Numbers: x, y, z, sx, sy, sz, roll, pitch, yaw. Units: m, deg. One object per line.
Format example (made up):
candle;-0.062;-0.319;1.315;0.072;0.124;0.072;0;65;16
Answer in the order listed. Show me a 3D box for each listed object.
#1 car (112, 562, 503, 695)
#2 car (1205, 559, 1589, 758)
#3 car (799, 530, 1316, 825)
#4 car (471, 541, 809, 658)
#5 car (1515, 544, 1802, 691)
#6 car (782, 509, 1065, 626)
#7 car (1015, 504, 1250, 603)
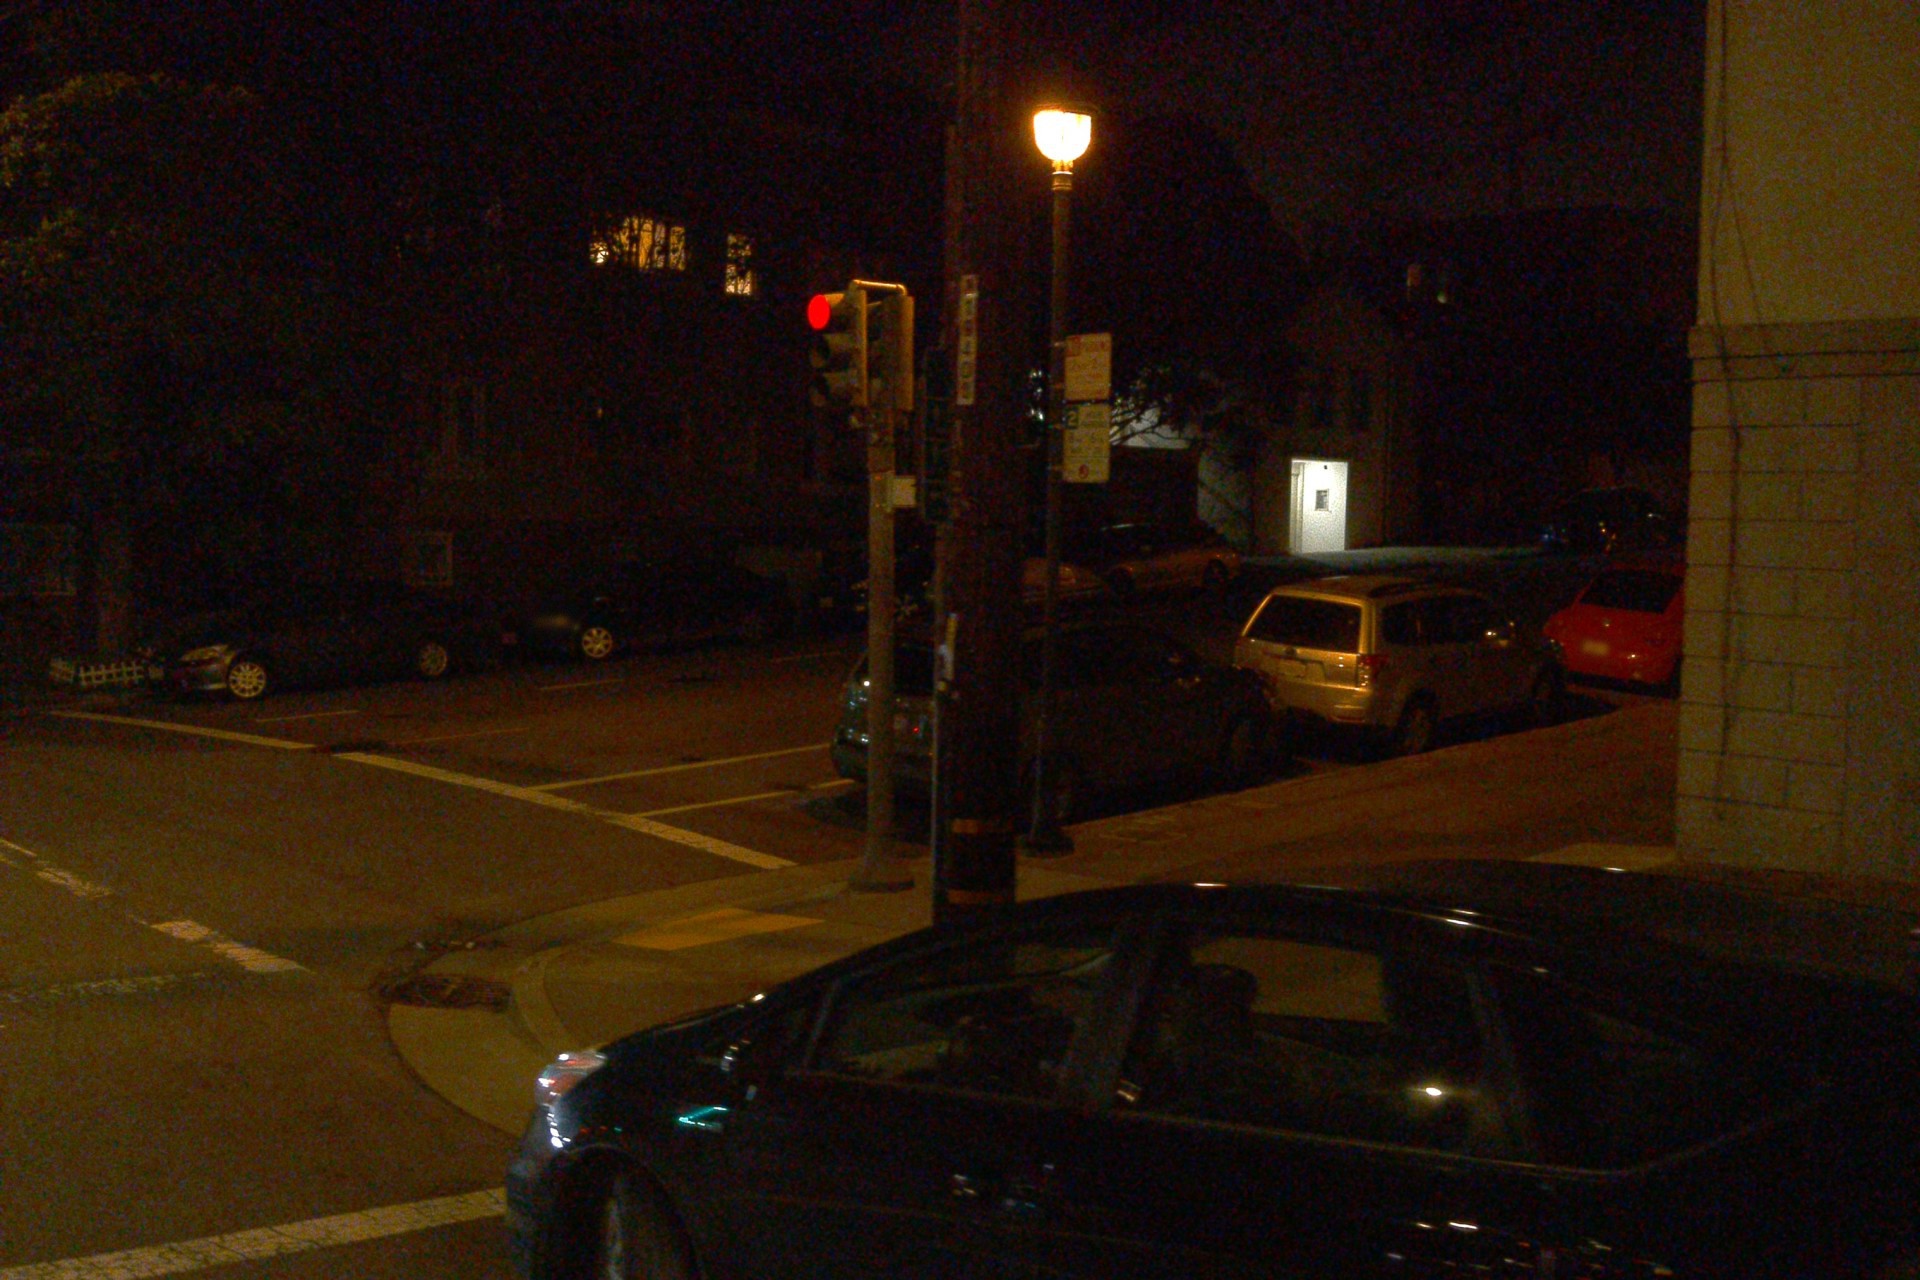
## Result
car;-8.455;-0.144;26.803;2.012;1.590;4.471;1;0;41
car;4.524;0.163;20.764;1.845;1.810;4.298;1;0;43
car;0.957;0.280;17.517;1.882;2.200;4.520;1;0;44
car;-4.708;-0.561;30.564;4.646;1.610;2.000;0;0;-43
car;8.599;-0.257;25.013;1.862;1.640;3.906;1;0;43
car;-0.549;-1.156;34.347;4.629;1.790;2.012;0;0;-45
car;3.259;-1.548;37.960;1.761;1.660;4.654;1;0;44
